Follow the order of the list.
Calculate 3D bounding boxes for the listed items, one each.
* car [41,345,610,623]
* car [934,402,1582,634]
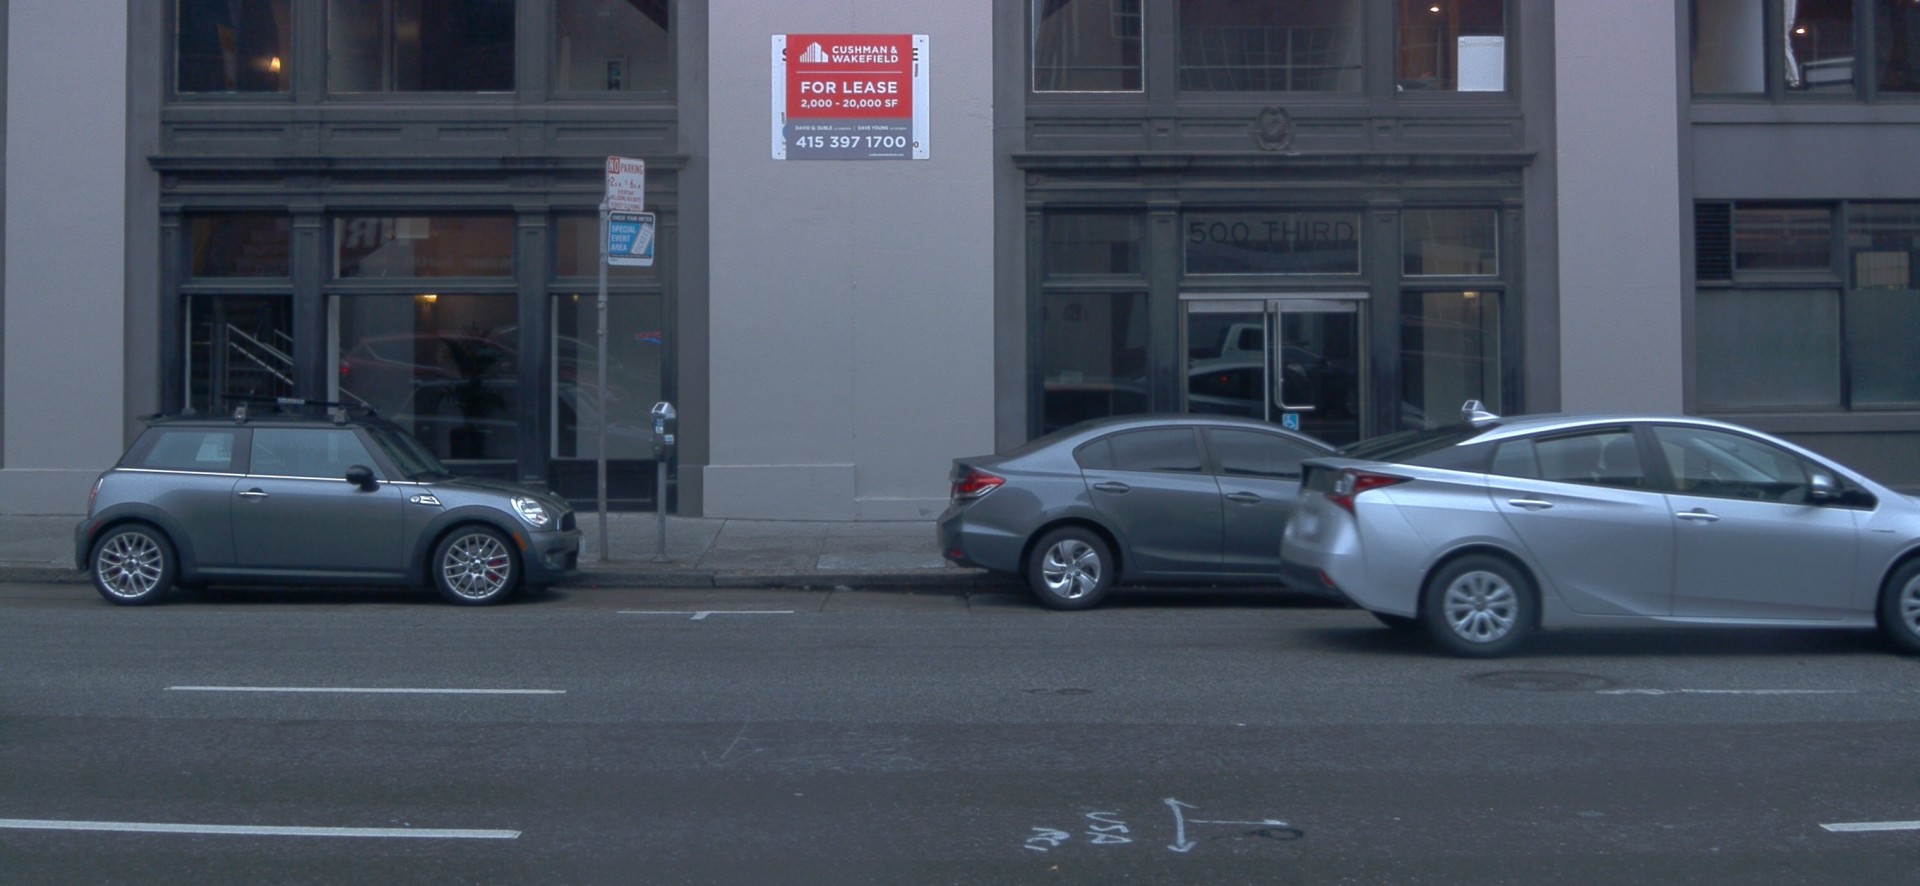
[{"bbox_3d":[-4.702,0.244,15.836,3.807,1.877,1.865,0,3,-3],"label":"car"},{"bbox_3d":[2.133,0.511,15.850,4.616,1.477,2.025,0,4,-2],"label":"car"}]
